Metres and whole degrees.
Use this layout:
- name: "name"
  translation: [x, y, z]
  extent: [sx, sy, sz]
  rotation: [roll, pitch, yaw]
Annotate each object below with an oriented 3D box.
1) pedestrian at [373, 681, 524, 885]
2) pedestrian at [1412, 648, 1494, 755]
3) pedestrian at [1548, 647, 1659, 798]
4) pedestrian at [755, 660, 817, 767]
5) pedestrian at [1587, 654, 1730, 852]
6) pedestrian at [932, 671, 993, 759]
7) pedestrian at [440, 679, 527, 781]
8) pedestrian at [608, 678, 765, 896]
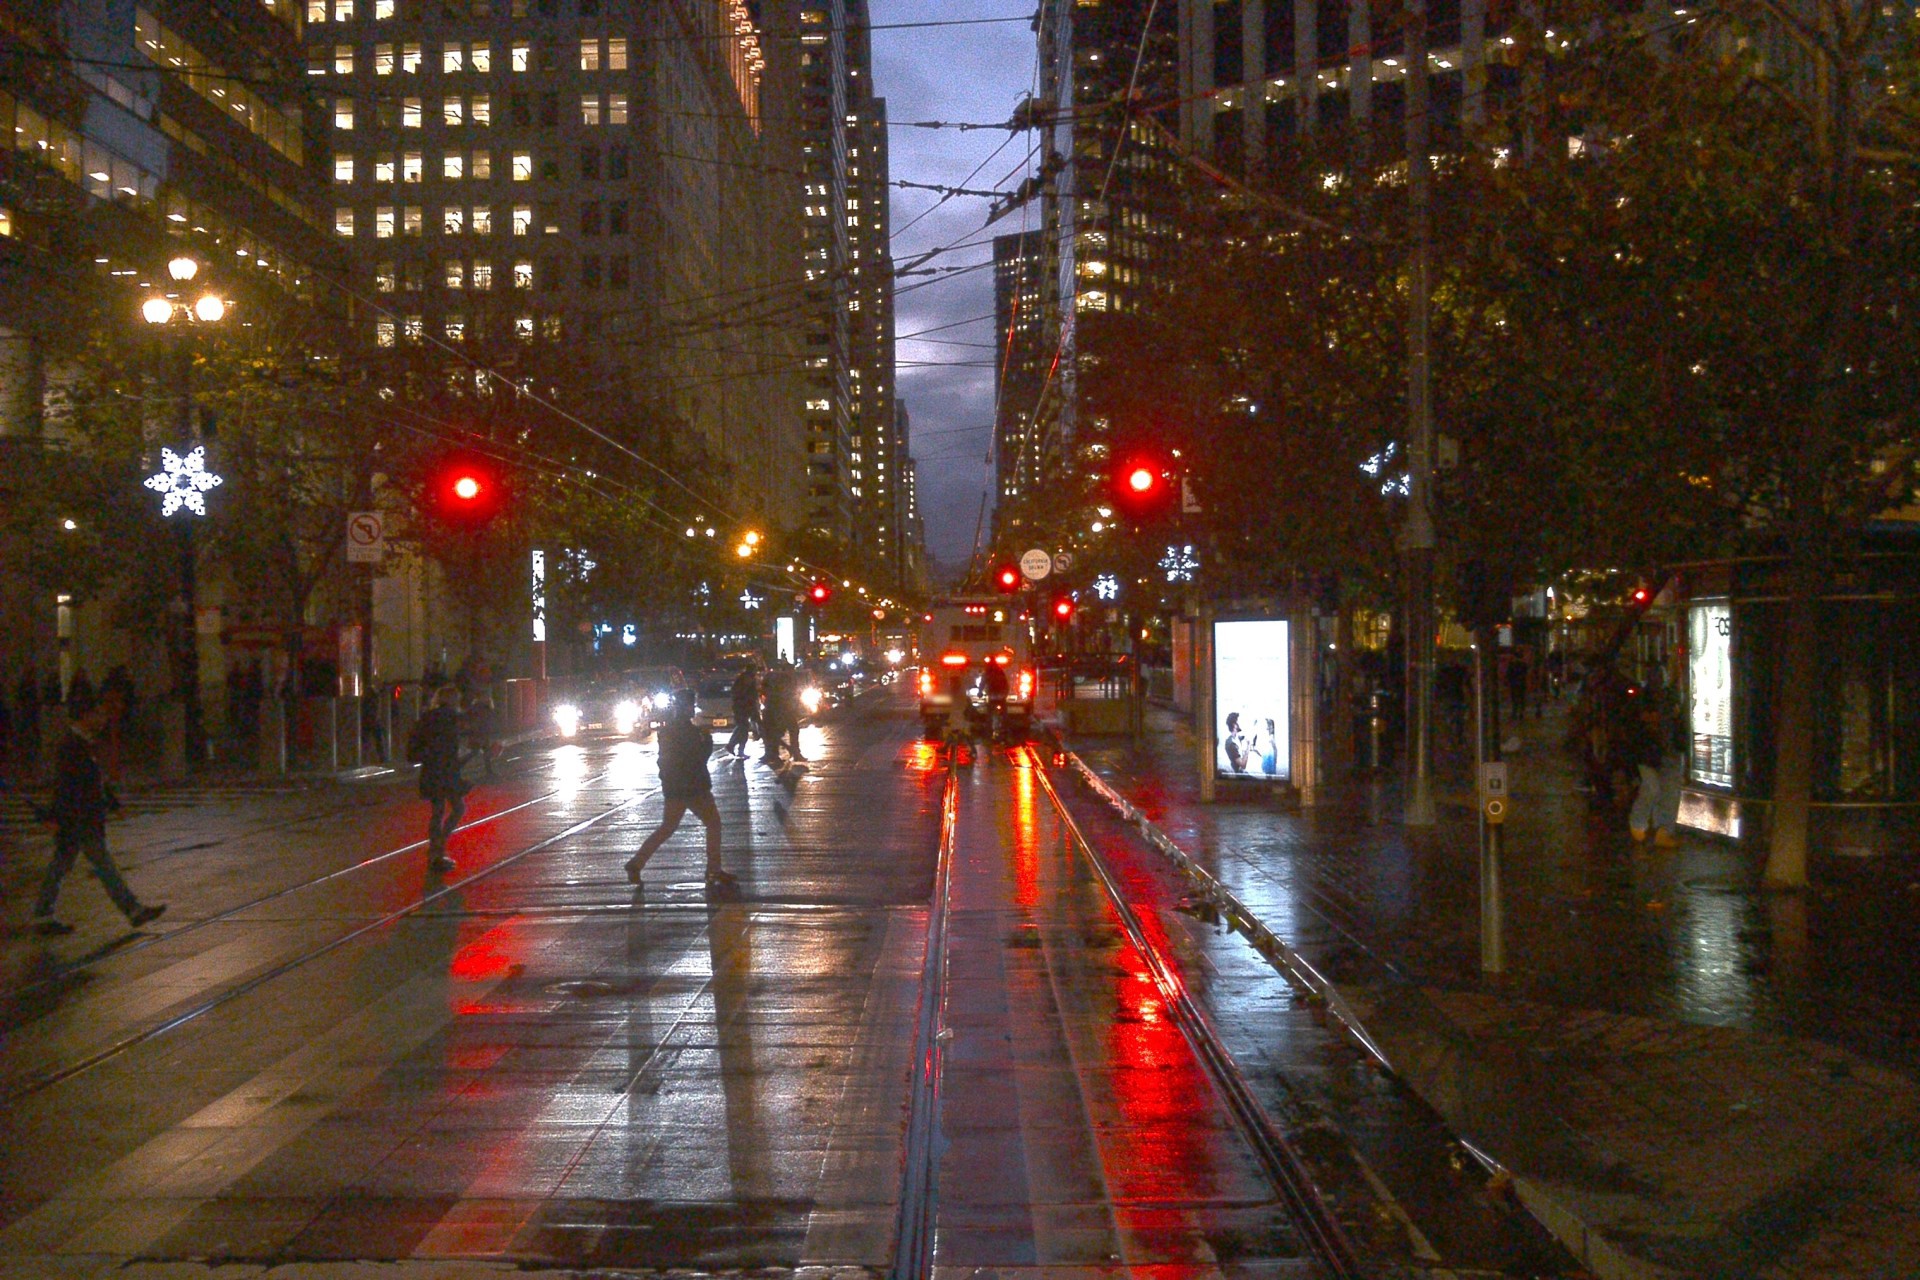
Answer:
- name: "pedestrian"
  translation: [-4.949, 1.354, 19.827]
  extent: [1.219, 1.890, 0.781]
  rotation: [0, 0, -33]
- name: "pedestrian"
  translation: [8.459, 1.036, 35.135]
  extent: [1.149, 1.800, 0.870]
  rotation: [0, 0, -44]
- name: "pedestrian"
  translation: [8.071, 1.017, 25.719]
  extent: [0.971, 1.850, 0.907]
  rotation: [0, 0, -18]
- name: "pedestrian"
  translation: [-3.088, 1.296, 36.407]
  extent: [1.021, 1.860, 0.868]
  rotation: [0, 0, 0]
- name: "pedestrian"
  translation: [6.477, 1.019, 19.044]
  extent: [0.855, 1.780, 1.174]
  rotation: [0, 0, -5]
- name: "pedestrian"
  translation: [0.040, 1.396, 38.402]
  extent: [1.000, 1.630, 0.740]
  rotation: [0, 0, -12]
- name: "pedestrian"
  translation: [-8.206, 1.532, 35.266]
  extent: [1.062, 1.710, 1.006]
  rotation: [0, 0, 34]
- name: "pedestrian"
  translation: [-2.399, 1.254, 17.983]
  extent: [1.105, 1.830, 0.810]
  rotation: [0, 0, -38]
